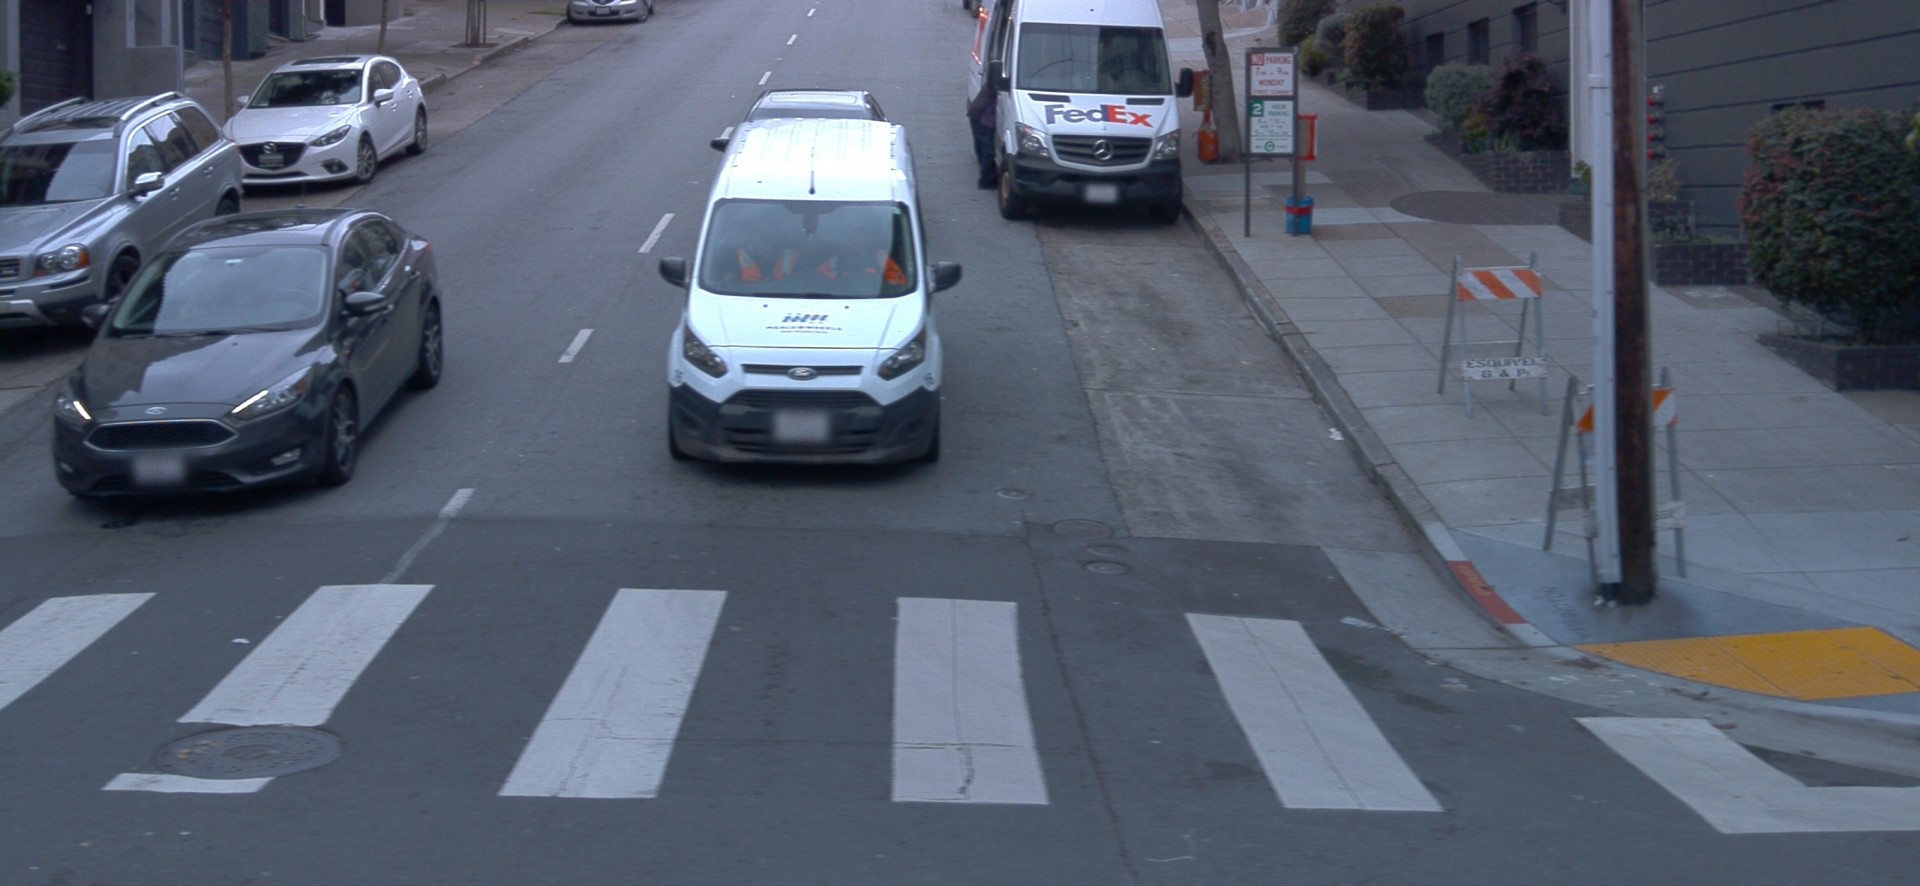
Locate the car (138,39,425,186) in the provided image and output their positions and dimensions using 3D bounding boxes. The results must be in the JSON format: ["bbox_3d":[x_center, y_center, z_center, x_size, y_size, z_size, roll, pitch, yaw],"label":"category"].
[{"bbox_3d":[-8.637,-4.198,26.761,2.120,1.710,4.603,0,6,1],"label":"car"}]

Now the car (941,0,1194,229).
[{"bbox_3d":[1.104,-4.318,25.346,2.327,3.212,7.155,0,6,-3],"label":"car"}]

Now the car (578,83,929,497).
[{"bbox_3d":[-1.350,-1.214,14.812,2.082,2.457,4.884,0,6,-3],"label":"car"}]

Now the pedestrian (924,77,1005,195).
[{"bbox_3d":[0.056,-3.701,25.009,0.668,1.395,0.736,-3,4,-39],"label":"pedestrian"}]
